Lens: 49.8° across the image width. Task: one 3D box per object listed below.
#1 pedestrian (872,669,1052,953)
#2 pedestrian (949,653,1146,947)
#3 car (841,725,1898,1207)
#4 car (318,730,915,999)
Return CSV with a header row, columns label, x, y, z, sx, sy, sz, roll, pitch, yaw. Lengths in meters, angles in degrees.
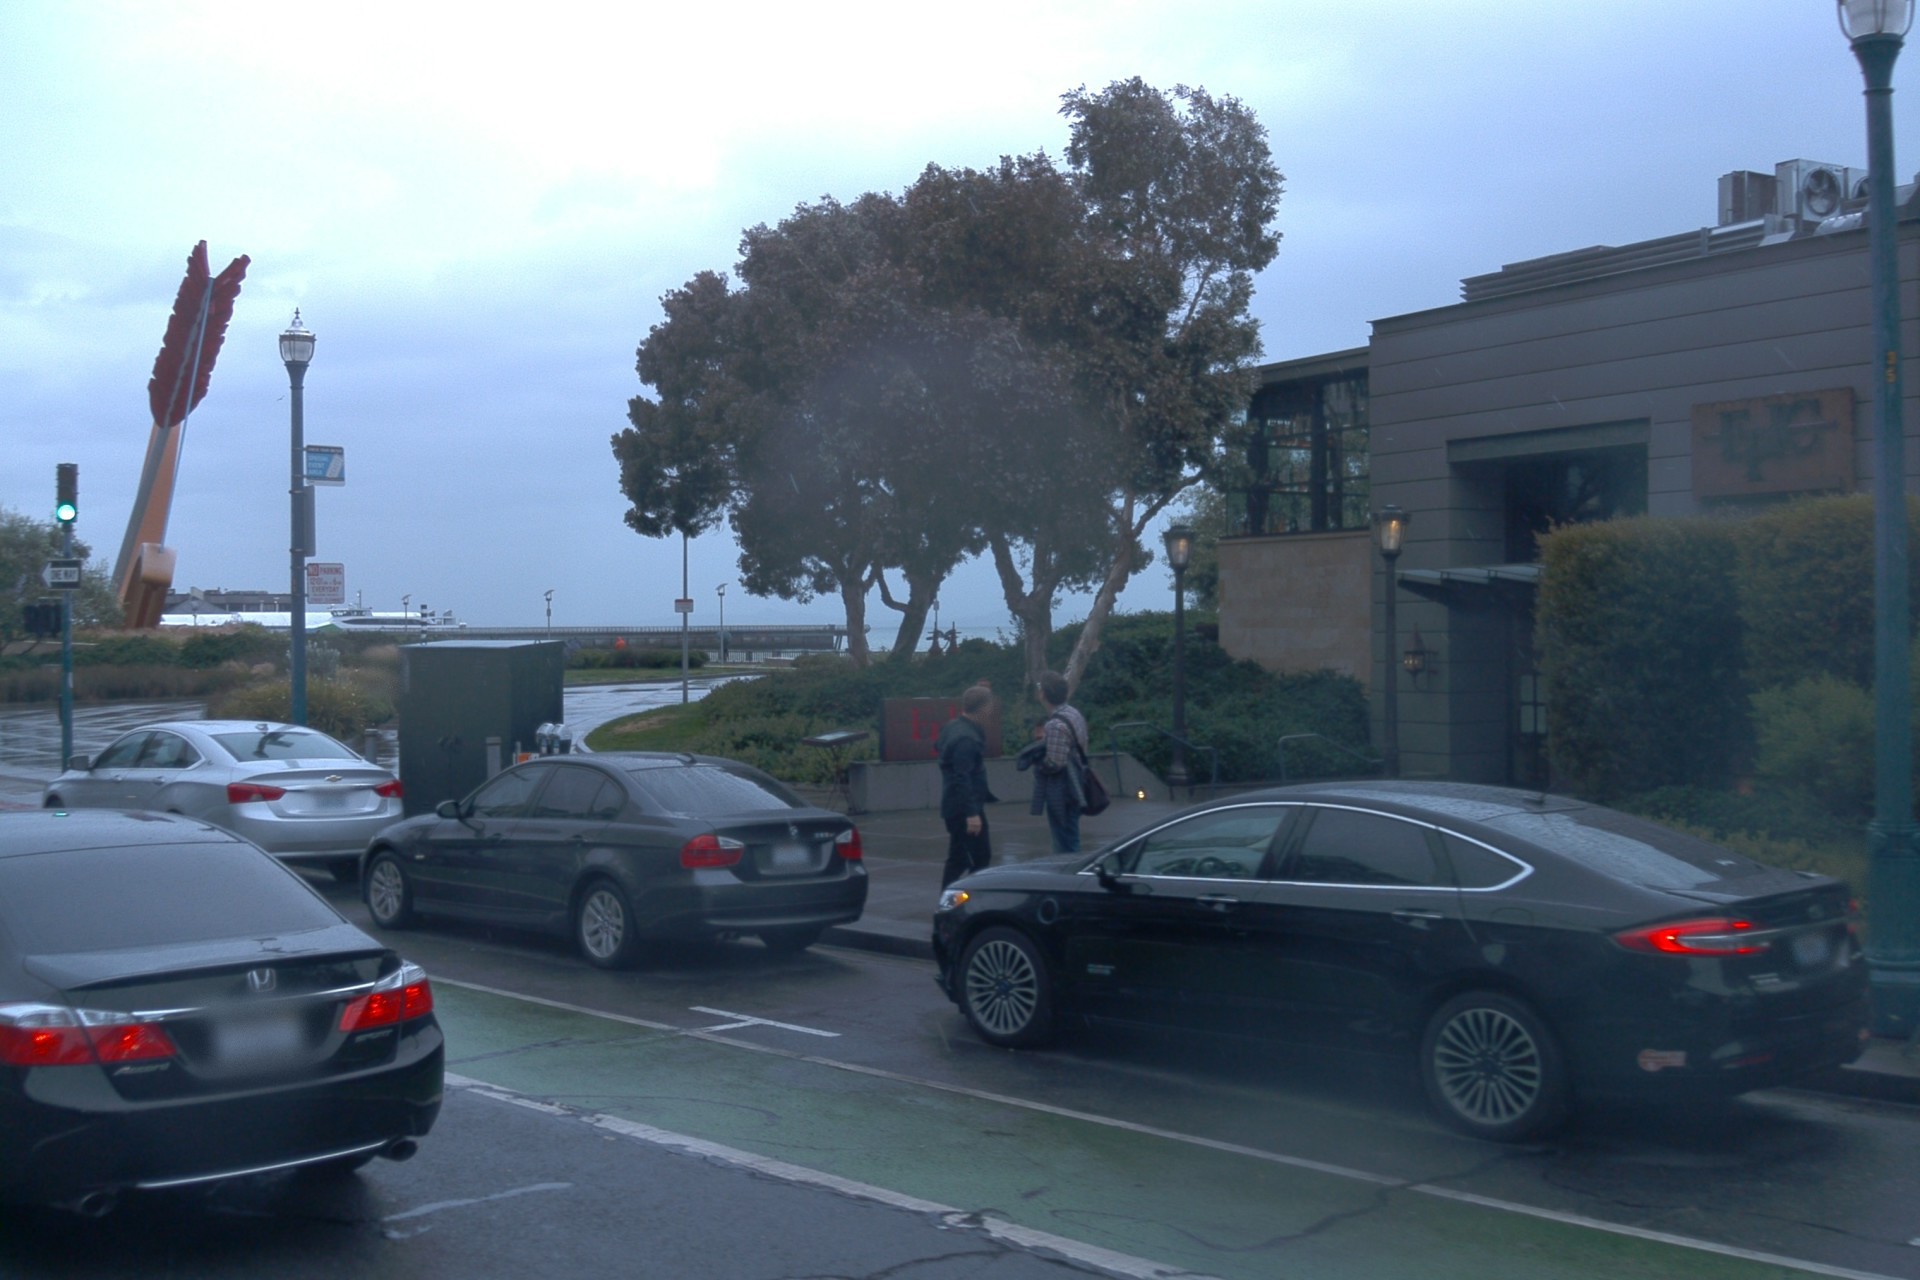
label,x,y,z,sx,sy,sz,roll,pitch,yaw
pedestrian,-0.008,1.183,14.914,1.051,1.939,1.267,1,-1,-11
pedestrian,0.655,1.123,15.204,1.063,2.050,1.155,0,-1,27
car,1.883,1.383,10.653,4.866,1.710,2.313,0,-1,45
car,-2.654,1.499,15.230,4.533,1.500,2.063,0,-1,45
